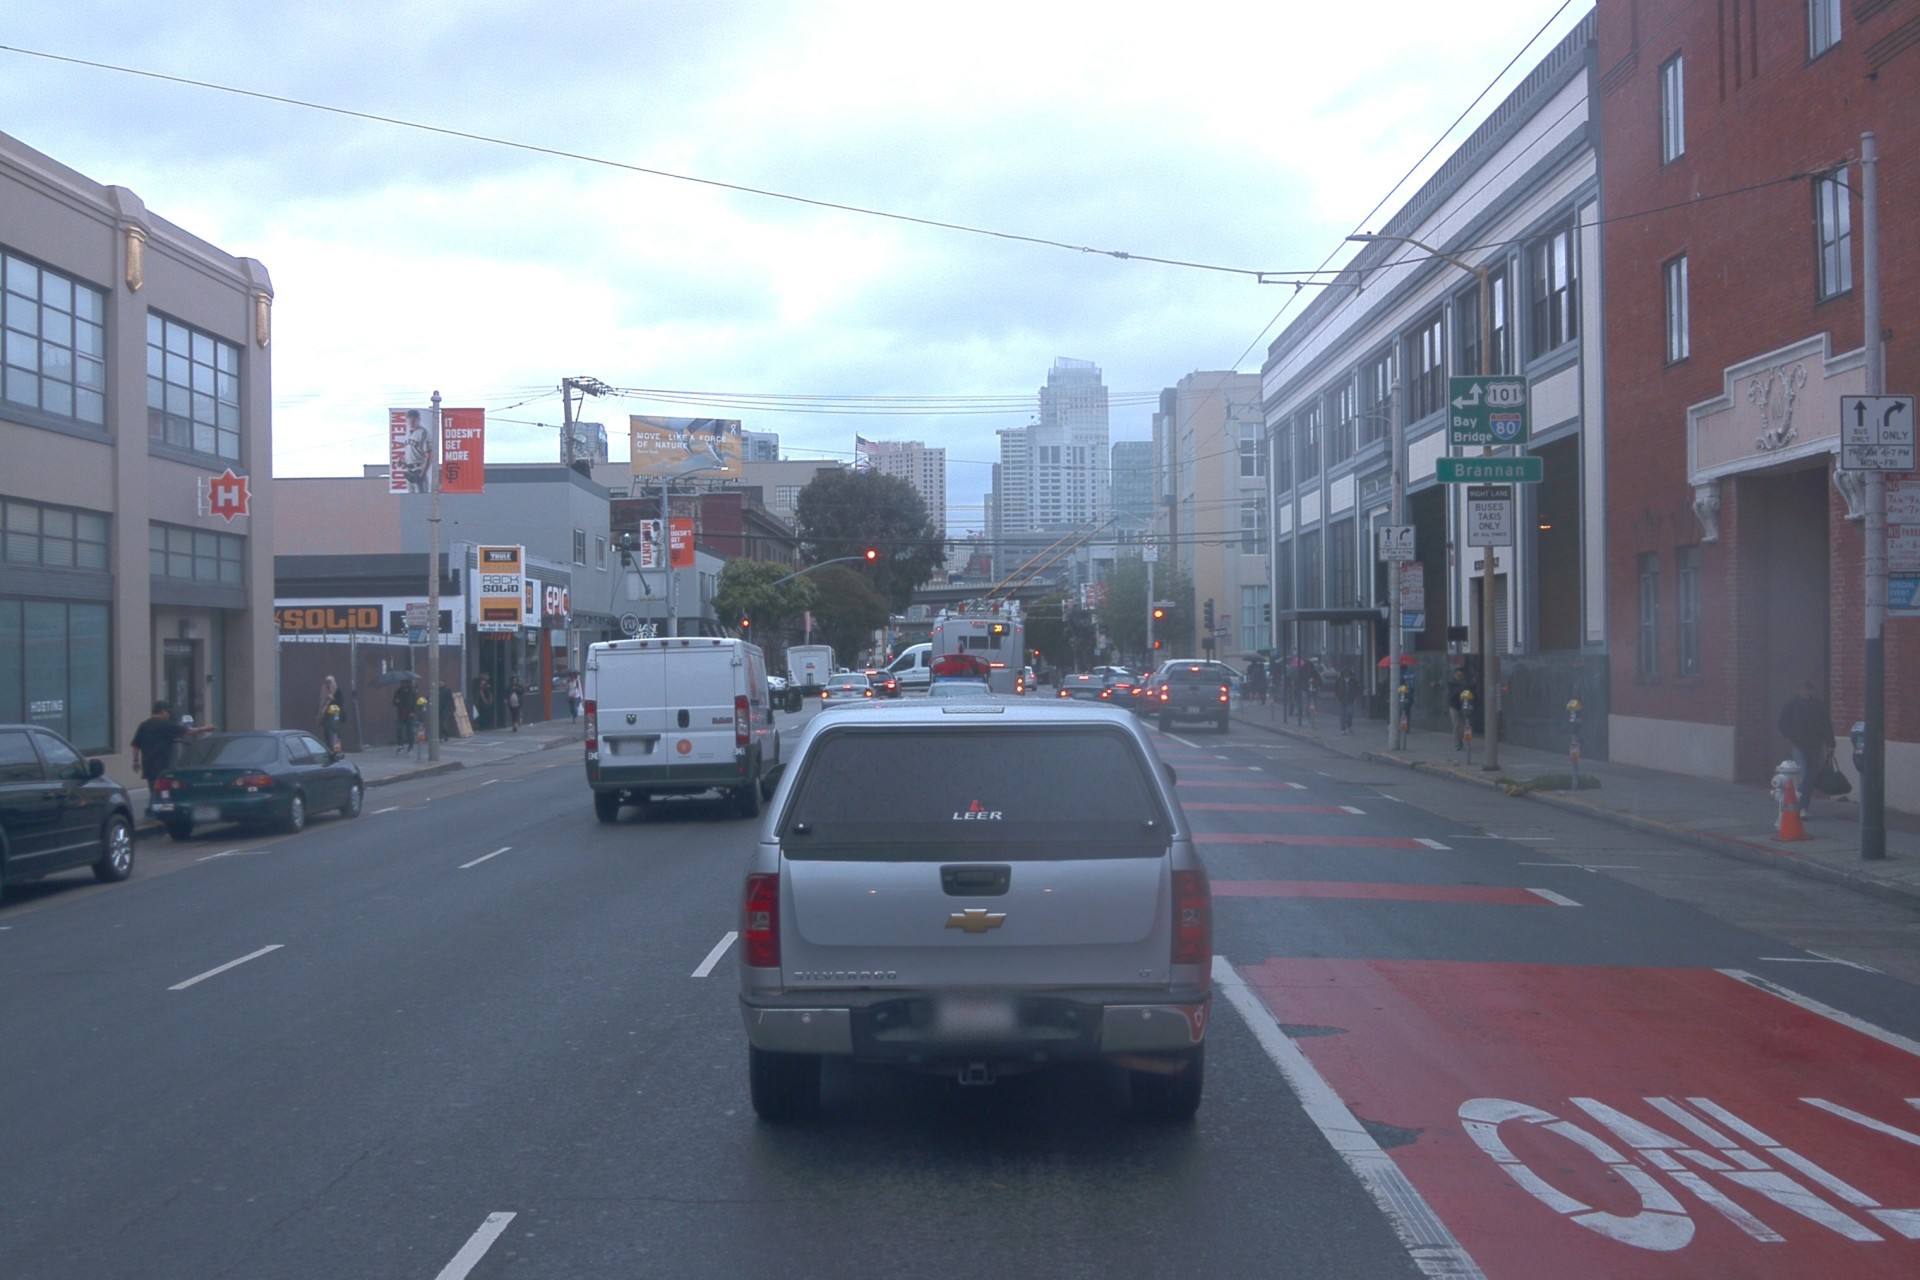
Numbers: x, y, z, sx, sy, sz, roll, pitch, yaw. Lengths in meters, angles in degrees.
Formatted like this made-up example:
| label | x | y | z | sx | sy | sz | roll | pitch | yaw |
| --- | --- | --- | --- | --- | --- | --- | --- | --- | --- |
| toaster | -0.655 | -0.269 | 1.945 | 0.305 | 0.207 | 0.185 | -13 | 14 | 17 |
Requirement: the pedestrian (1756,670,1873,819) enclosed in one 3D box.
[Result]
| label | x | y | z | sx | sy | sz | roll | pitch | yaw |
| --- | --- | --- | --- | --- | --- | --- | --- | --- | --- |
| pedestrian | 10.208 | 1.230 | 24.812 | 0.986 | 1.730 | 1.120 | 0 | -1 | 5 |

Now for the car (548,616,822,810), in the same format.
| label | x | y | z | sx | sy | sz | roll | pitch | yaw |
| --- | --- | --- | --- | --- | --- | --- | --- | --- | --- |
| car | -3.538 | 0.932 | 28.209 | 2.862 | 2.340 | 6.175 | 0 | -1 | 0 |

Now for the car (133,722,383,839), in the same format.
| label | x | y | z | sx | sy | sz | roll | pitch | yaw |
| --- | --- | --- | --- | --- | --- | --- | --- | --- | --- |
| car | -9.237 | 1.817 | 27.672 | 1.823 | 1.328 | 4.293 | 0 | -1 | 1 |

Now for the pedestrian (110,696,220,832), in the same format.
| label | x | y | z | sx | sy | sz | roll | pitch | yaw |
| --- | --- | --- | --- | --- | --- | --- | --- | --- | --- |
| pedestrian | -10.561 | 1.631 | 27.574 | 1.116 | 1.767 | 0.851 | 0 | -1 | 1 |

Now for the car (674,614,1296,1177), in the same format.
| label | x | y | z | sx | sy | sz | roll | pitch | yaw |
| --- | --- | --- | --- | --- | --- | --- | --- | --- | --- |
| car | 0.074 | 1.038 | 10.615 | 2.437 | 2.200 | 4.924 | 0 | -1 | -1 |
